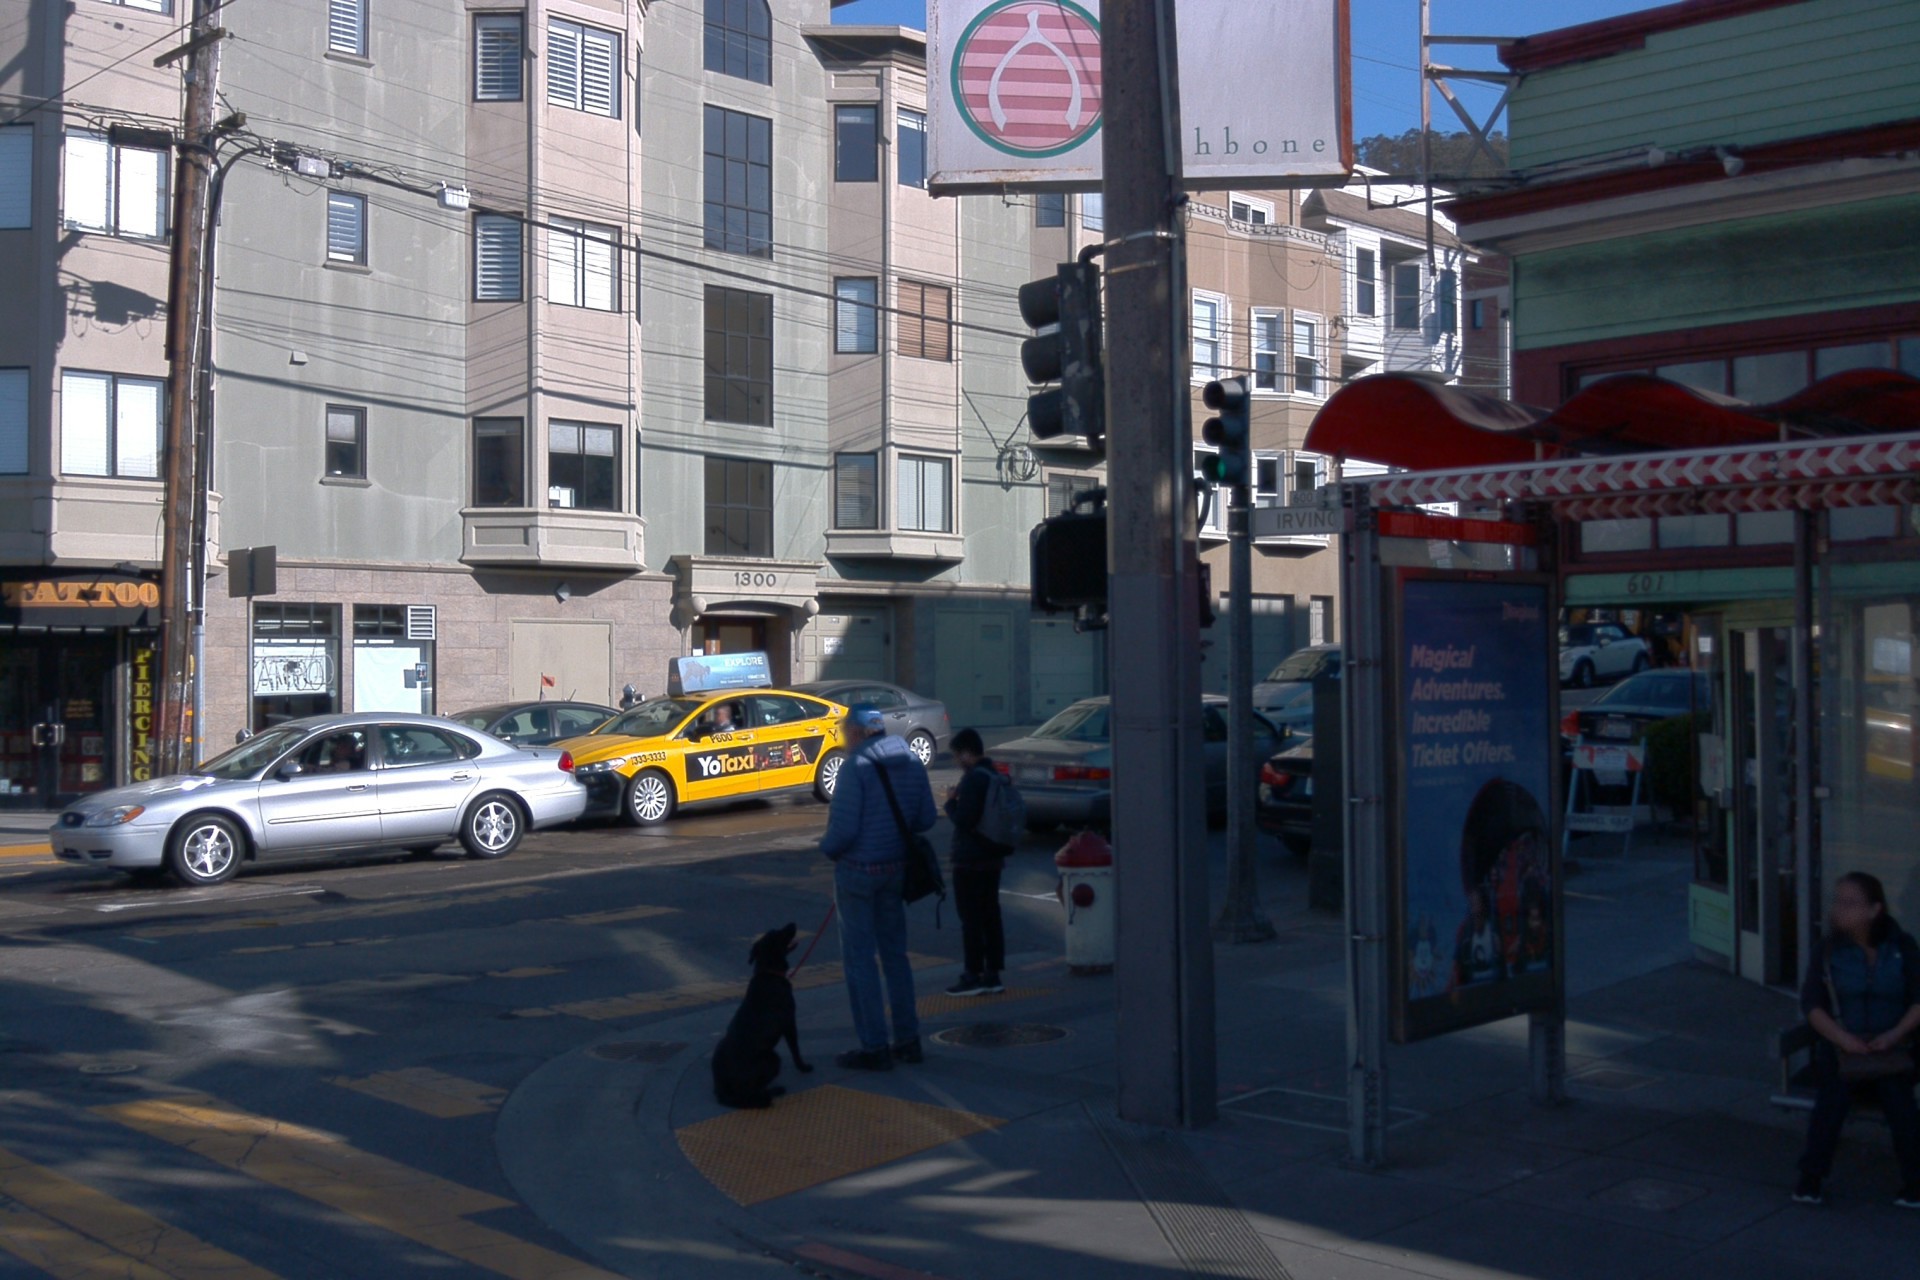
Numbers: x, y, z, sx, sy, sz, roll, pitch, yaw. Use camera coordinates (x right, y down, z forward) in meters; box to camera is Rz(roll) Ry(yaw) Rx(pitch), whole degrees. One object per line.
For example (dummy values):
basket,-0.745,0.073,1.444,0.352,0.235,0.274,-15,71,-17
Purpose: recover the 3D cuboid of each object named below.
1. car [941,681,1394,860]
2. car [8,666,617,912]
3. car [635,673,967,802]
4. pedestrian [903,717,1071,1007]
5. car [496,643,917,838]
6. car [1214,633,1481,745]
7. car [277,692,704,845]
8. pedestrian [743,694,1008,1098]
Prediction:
car,2.273,1.249,21.786,2.077,1.590,4.904,0,0,44
car,-6.062,1.279,19.930,5.035,2.030,2.283,1,0,-38
car,-2.217,1.325,30.143,2.102,1.670,4.524,0,0,43
pedestrian,0.167,1.344,13.044,0.687,1.700,0.778,0,0,-43
car,-2.937,1.112,25.111,2.070,2.100,4.772,1,0,43
car,6.285,0.752,33.686,4.554,1.680,1.896,1,0,-44
car,-5.779,1.518,26.271,2.149,1.660,4.833,0,0,44
pedestrian,-0.417,1.213,10.445,0.894,1.860,0.955,1,0,39
